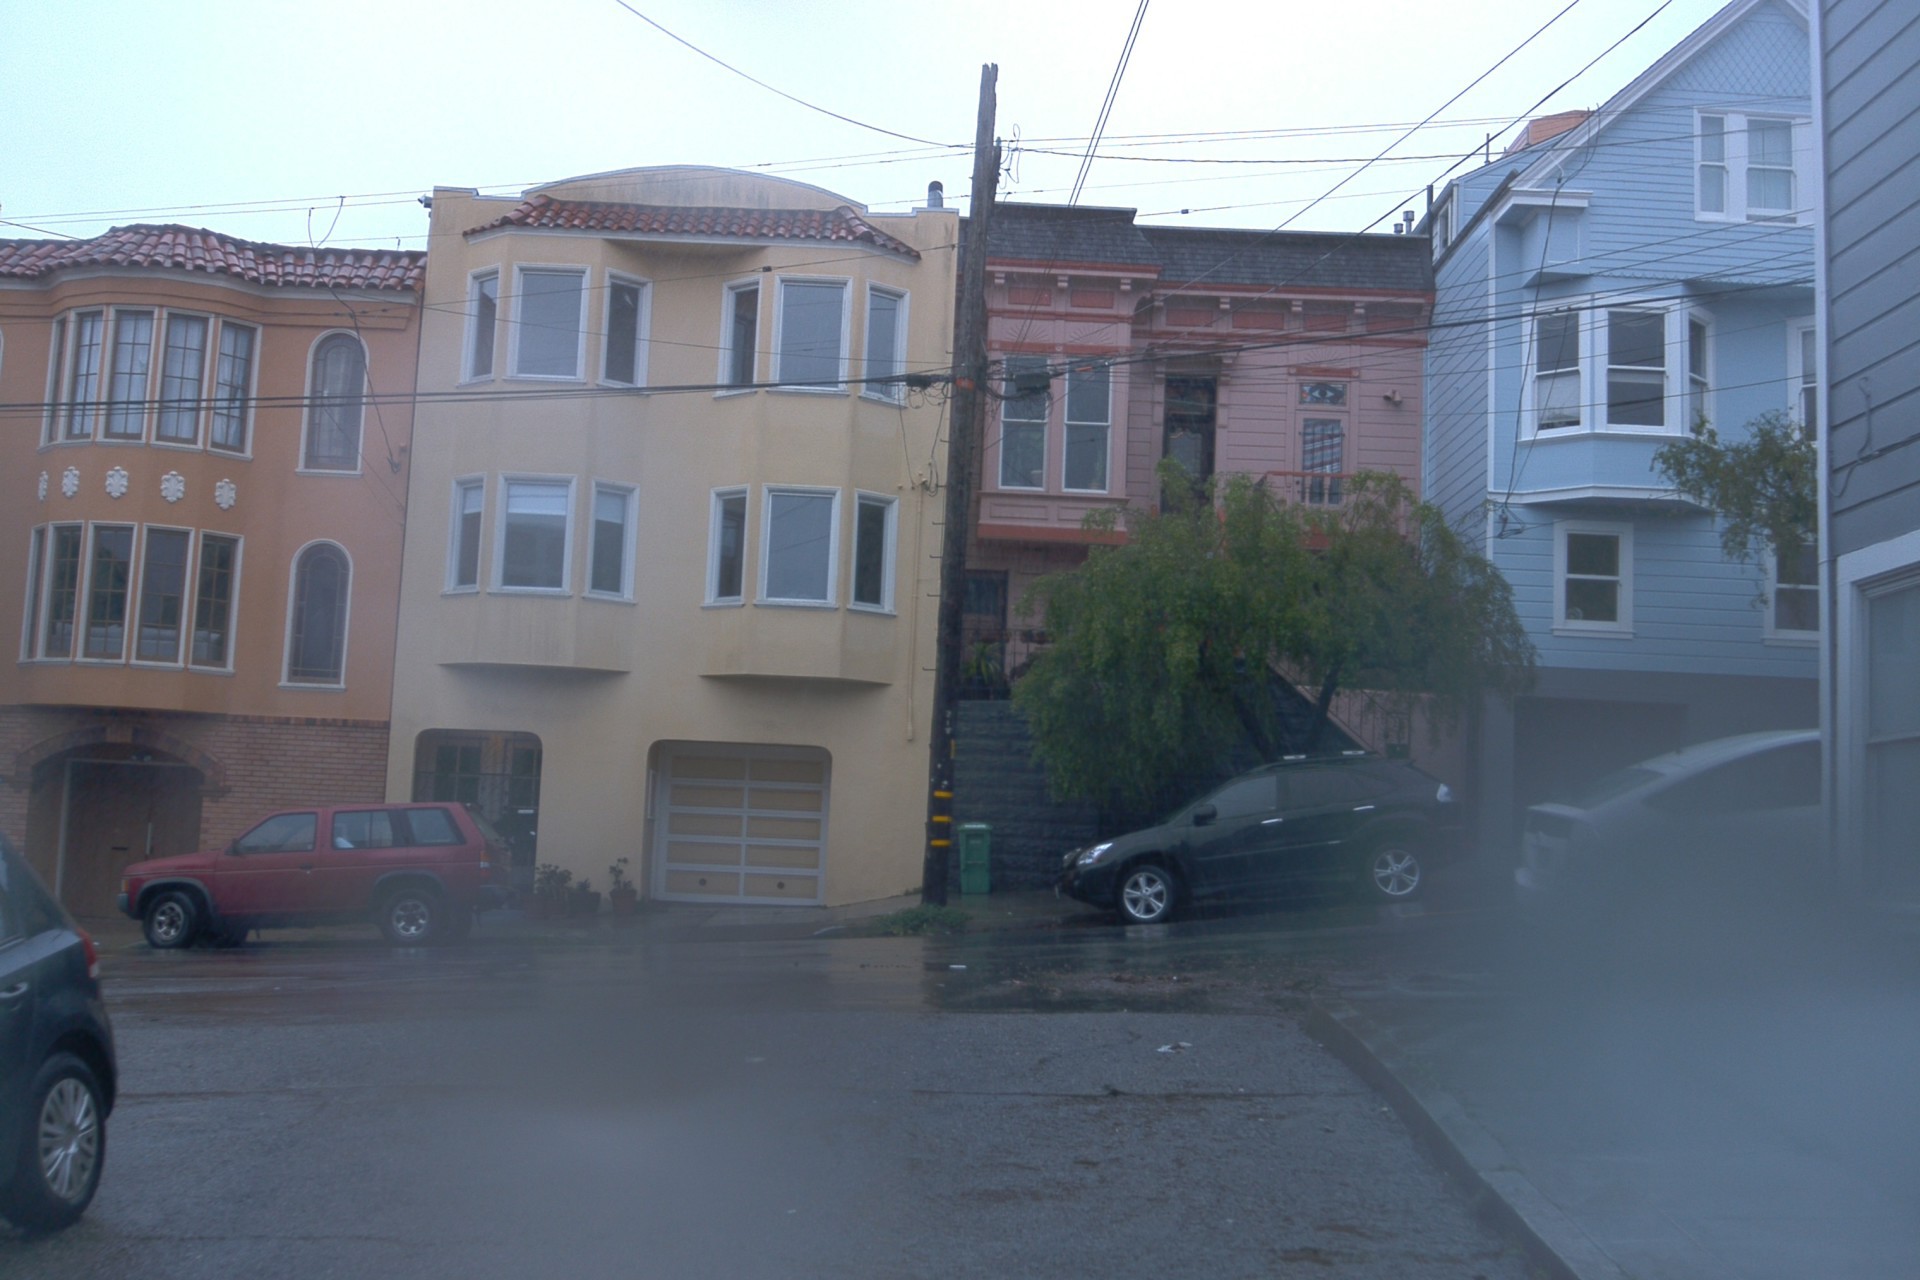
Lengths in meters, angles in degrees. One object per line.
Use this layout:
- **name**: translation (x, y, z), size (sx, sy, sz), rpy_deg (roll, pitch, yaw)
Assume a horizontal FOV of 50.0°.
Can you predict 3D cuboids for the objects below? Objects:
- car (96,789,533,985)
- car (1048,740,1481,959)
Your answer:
- **car**: translation (-7.304, 2.791, 23.641), size (4.397, 1.930, 1.945), rpy_deg (1, 0, 0)
- **car**: translation (3.385, 2.344, 23.598), size (4.626, 2.210, 1.958), rpy_deg (1, 0, 0)
